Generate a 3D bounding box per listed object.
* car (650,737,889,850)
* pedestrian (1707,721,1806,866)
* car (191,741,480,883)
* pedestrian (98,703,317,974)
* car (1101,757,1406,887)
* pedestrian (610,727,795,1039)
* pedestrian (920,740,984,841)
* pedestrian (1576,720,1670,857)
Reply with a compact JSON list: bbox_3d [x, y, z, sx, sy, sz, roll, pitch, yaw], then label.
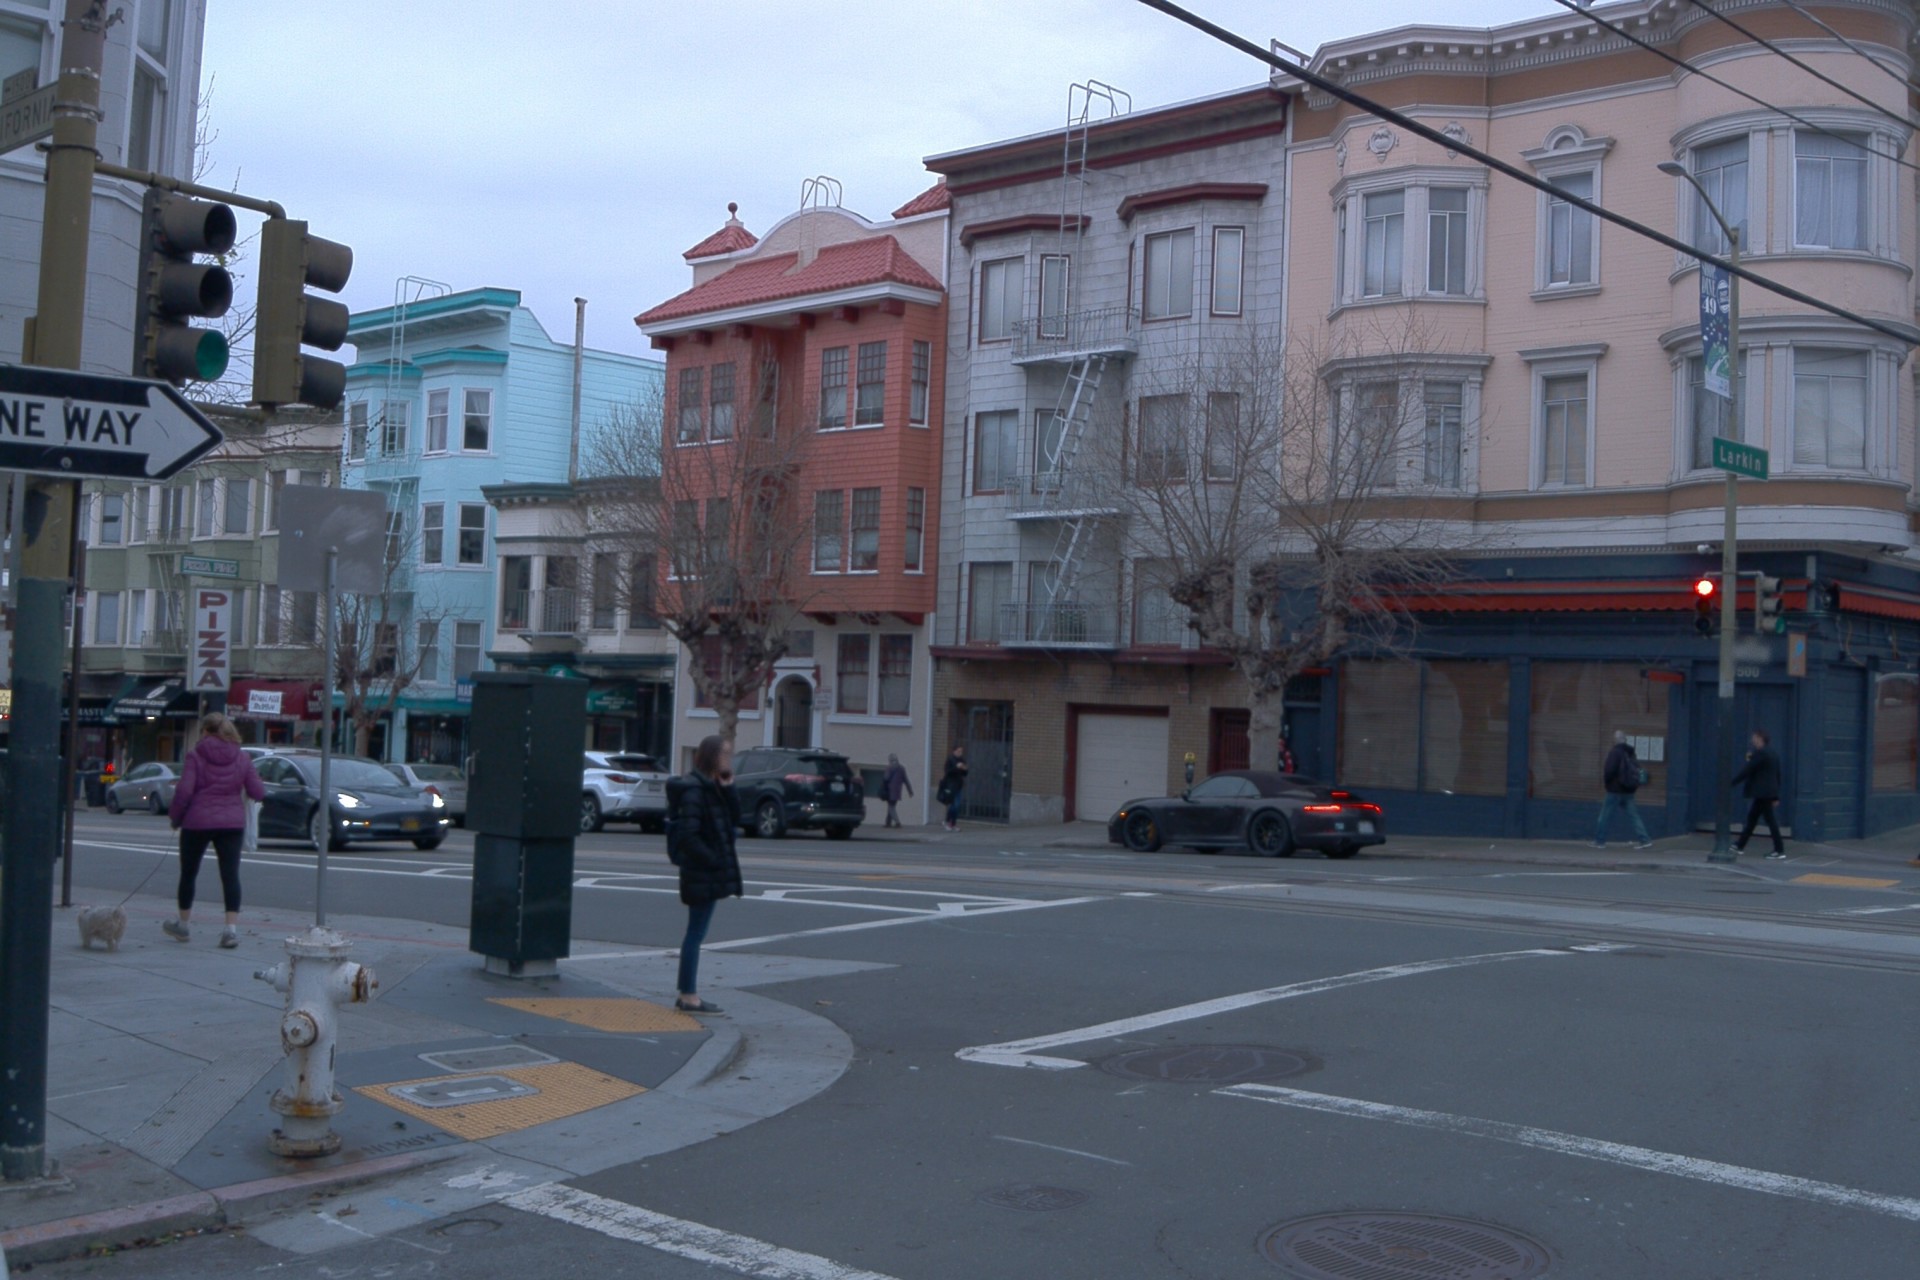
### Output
[{"bbox_3d":[-3.624,2.826,38.769,4.423,1.700,2.100,1,1,44],"label":"car"},{"bbox_3d":[11.198,2.136,29.022,1.080,1.913,0.903,1,1,38],"label":"pedestrian"},{"bbox_3d":[-9.370,2.485,30.766,4.698,1.630,2.074,1,1,44],"label":"car"},{"bbox_3d":[-5.019,1.273,13.755,1.180,1.640,0.944,1,1,45],"label":"pedestrian"},{"bbox_3d":[4.280,2.625,30.588,1.947,1.460,4.186,-1,1,-43],"label":"car"},{"bbox_3d":[-1.515,1.391,12.138,0.846,1.692,0.707,-1,1,-35],"label":"pedestrian"},{"bbox_3d":[-0.152,2.818,38.879,0.938,1.800,0.779,1,1,43],"label":"pedestrian"},{"bbox_3d":[9.914,2.197,30.885,1.100,1.930,0.772,1,1,44],"label":"pedestrian"}]
